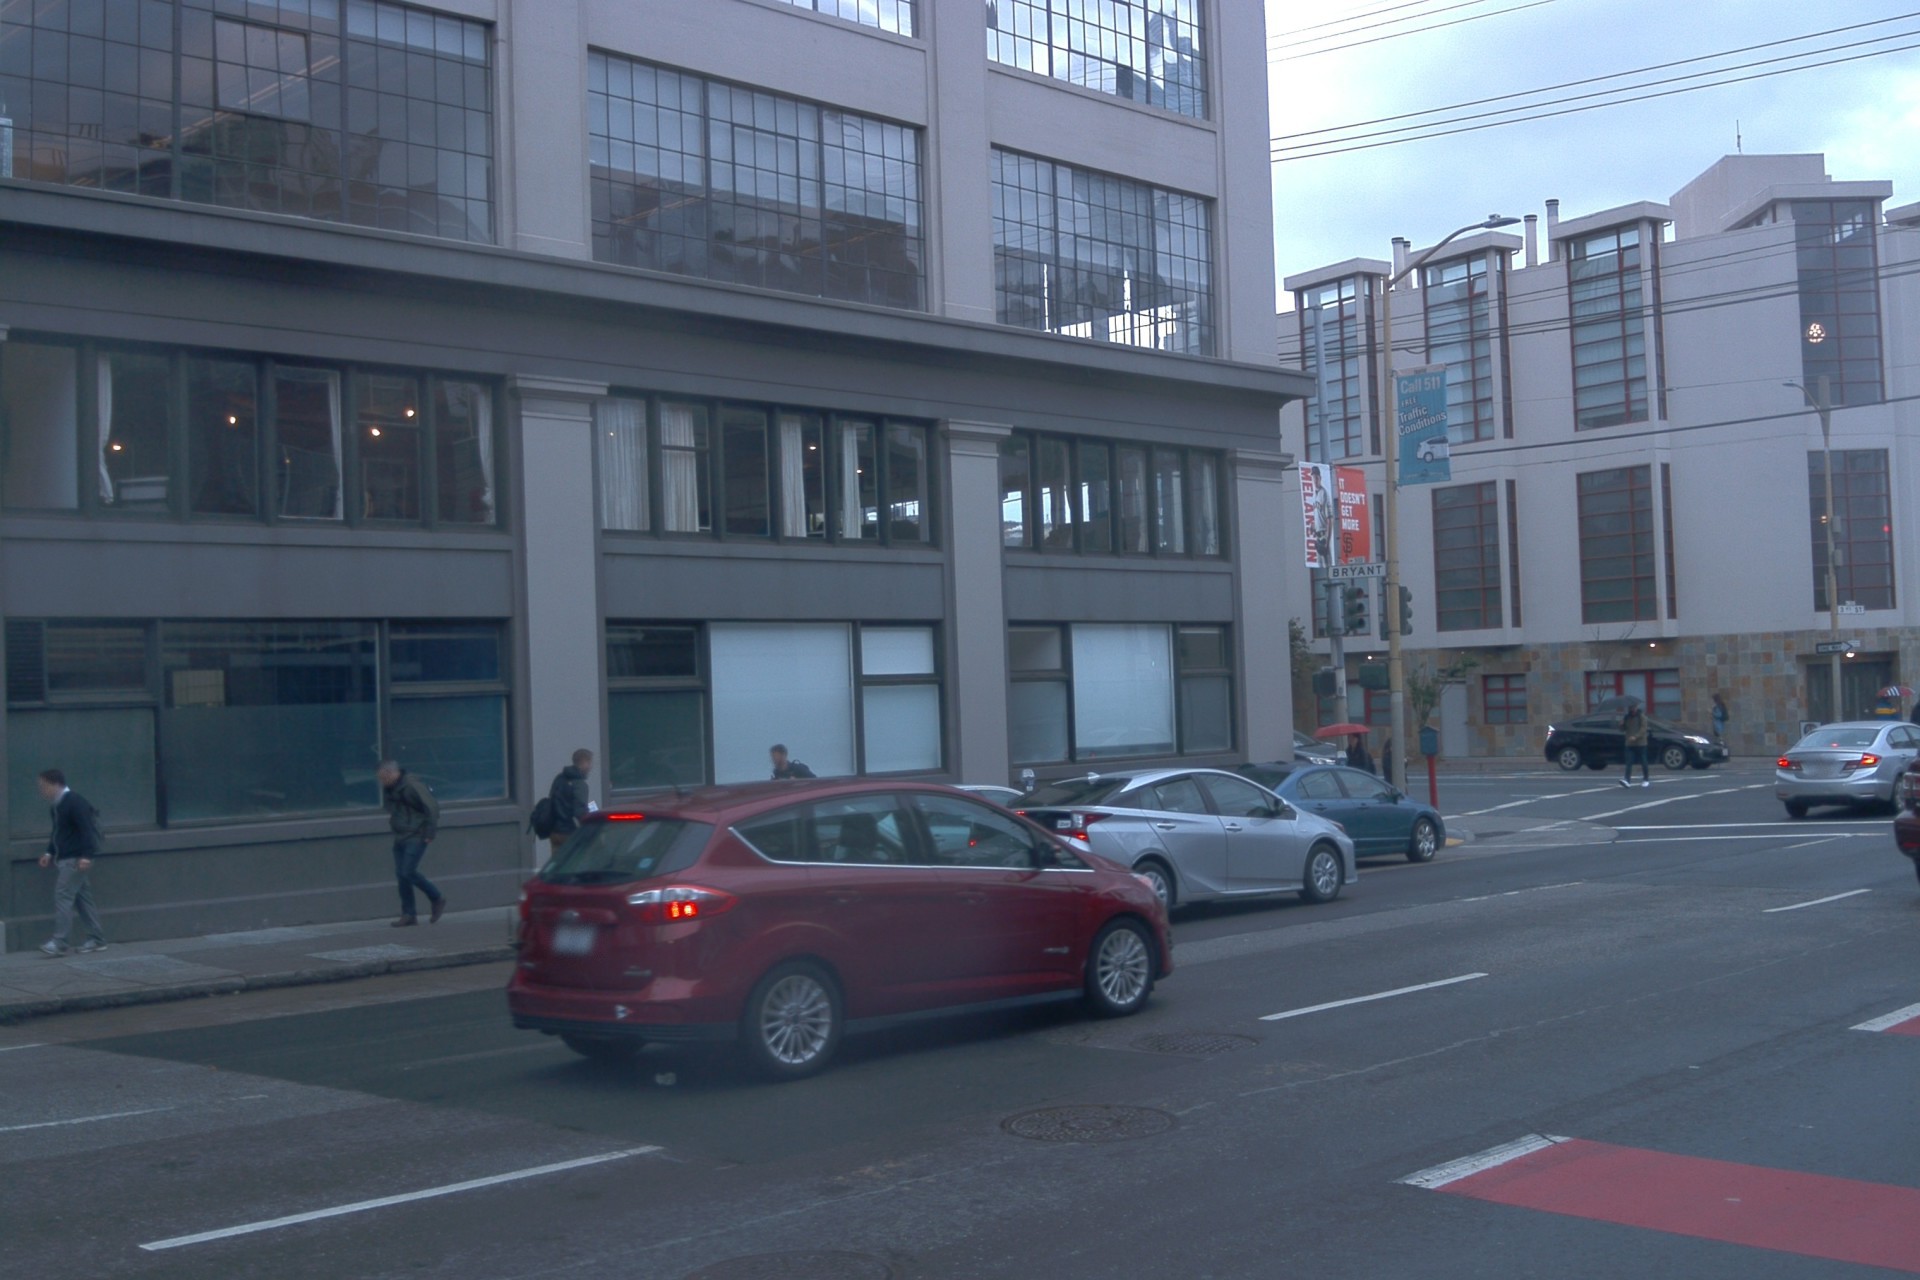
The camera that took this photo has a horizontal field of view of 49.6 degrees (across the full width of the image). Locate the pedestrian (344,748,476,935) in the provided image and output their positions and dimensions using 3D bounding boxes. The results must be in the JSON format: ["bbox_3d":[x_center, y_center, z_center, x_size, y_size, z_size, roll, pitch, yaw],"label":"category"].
[{"bbox_3d":[-5.667,2.046,21.431,0.851,1.800,1.024,0,0,44],"label":"pedestrian"}]

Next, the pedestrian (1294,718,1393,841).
[{"bbox_3d":[6.244,2.251,33.852,1.124,1.900,1.157,0,0,45],"label":"pedestrian"}]

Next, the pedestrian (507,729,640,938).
[{"bbox_3d":[-3.919,1.929,21.091,0.909,1.990,0.967,0,0,42],"label":"pedestrian"}]

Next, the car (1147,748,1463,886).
[{"bbox_3d":[4.628,2.265,27.473,1.913,1.440,4.430,0,0,44],"label":"car"}]

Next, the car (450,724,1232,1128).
[{"bbox_3d":[-0.554,1.527,12.764,2.079,1.830,4.598,0,0,44],"label":"car"}]

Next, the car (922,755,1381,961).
[{"bbox_3d":[1.990,2.028,20.462,2.043,1.540,4.613,0,0,44],"label":"car"}]
